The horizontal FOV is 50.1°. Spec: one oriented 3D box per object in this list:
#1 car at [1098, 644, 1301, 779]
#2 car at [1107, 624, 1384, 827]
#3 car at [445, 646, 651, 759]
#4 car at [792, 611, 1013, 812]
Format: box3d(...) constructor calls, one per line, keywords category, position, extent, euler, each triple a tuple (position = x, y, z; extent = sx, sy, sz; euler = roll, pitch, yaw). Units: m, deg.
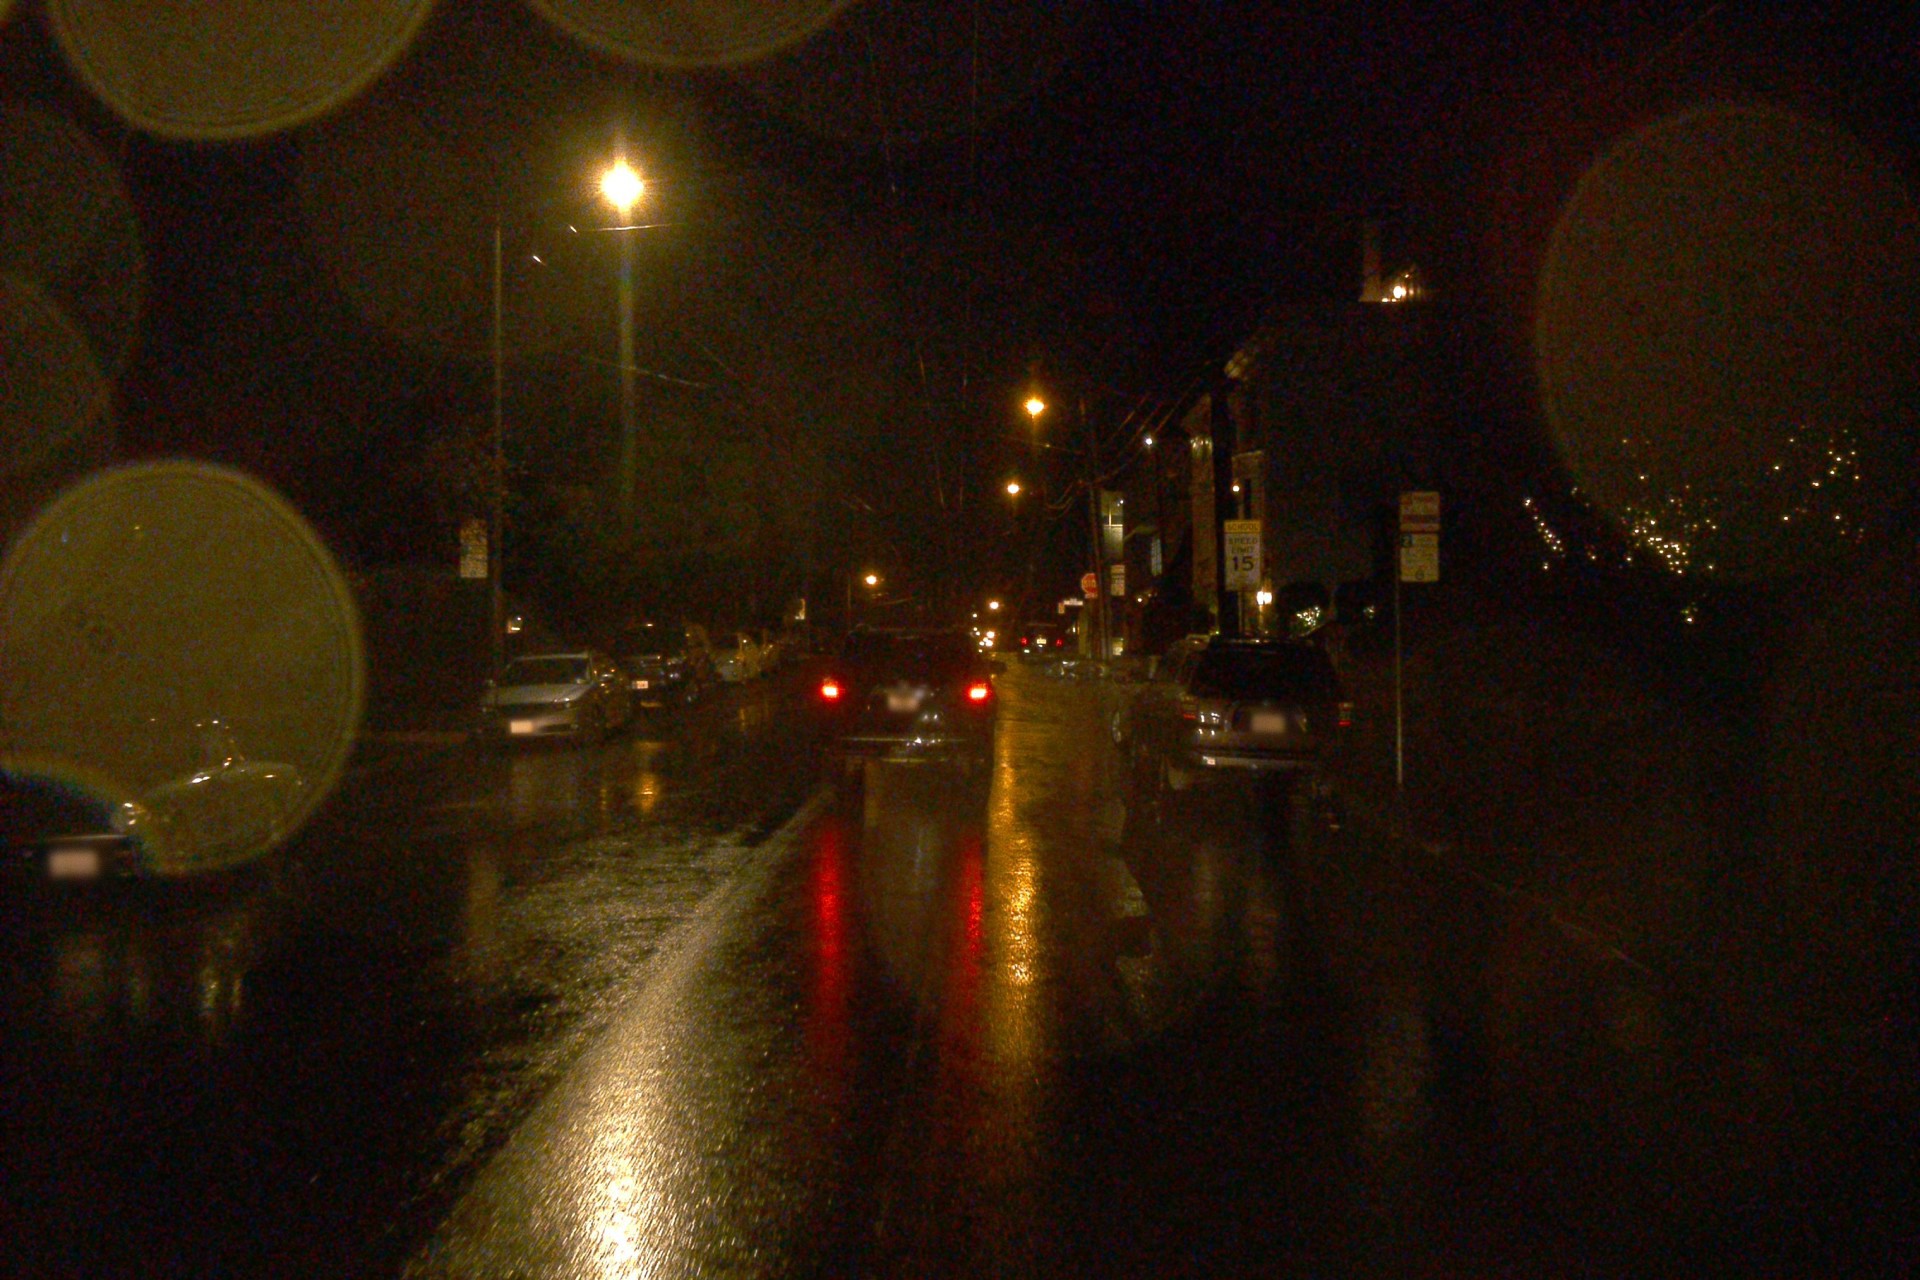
box3d(category="car", position=(3.227, 0.920, 28.807), extent=(2.241, 1.590, 5.010), euler=(1, 1, 0))
box3d(category="car", position=(3.012, 0.834, 22.886), extent=(2.202, 1.930, 5.045), euler=(1, 1, -2))
box3d(category="car", position=(-6.393, 0.920, 32.493), extent=(2.212, 1.530, 4.856), euler=(1, 1, 1))
box3d(category="car", position=(-0.541, 0.714, 23.888), extent=(2.267, 2.040, 4.792), euler=(1, 1, 2))
